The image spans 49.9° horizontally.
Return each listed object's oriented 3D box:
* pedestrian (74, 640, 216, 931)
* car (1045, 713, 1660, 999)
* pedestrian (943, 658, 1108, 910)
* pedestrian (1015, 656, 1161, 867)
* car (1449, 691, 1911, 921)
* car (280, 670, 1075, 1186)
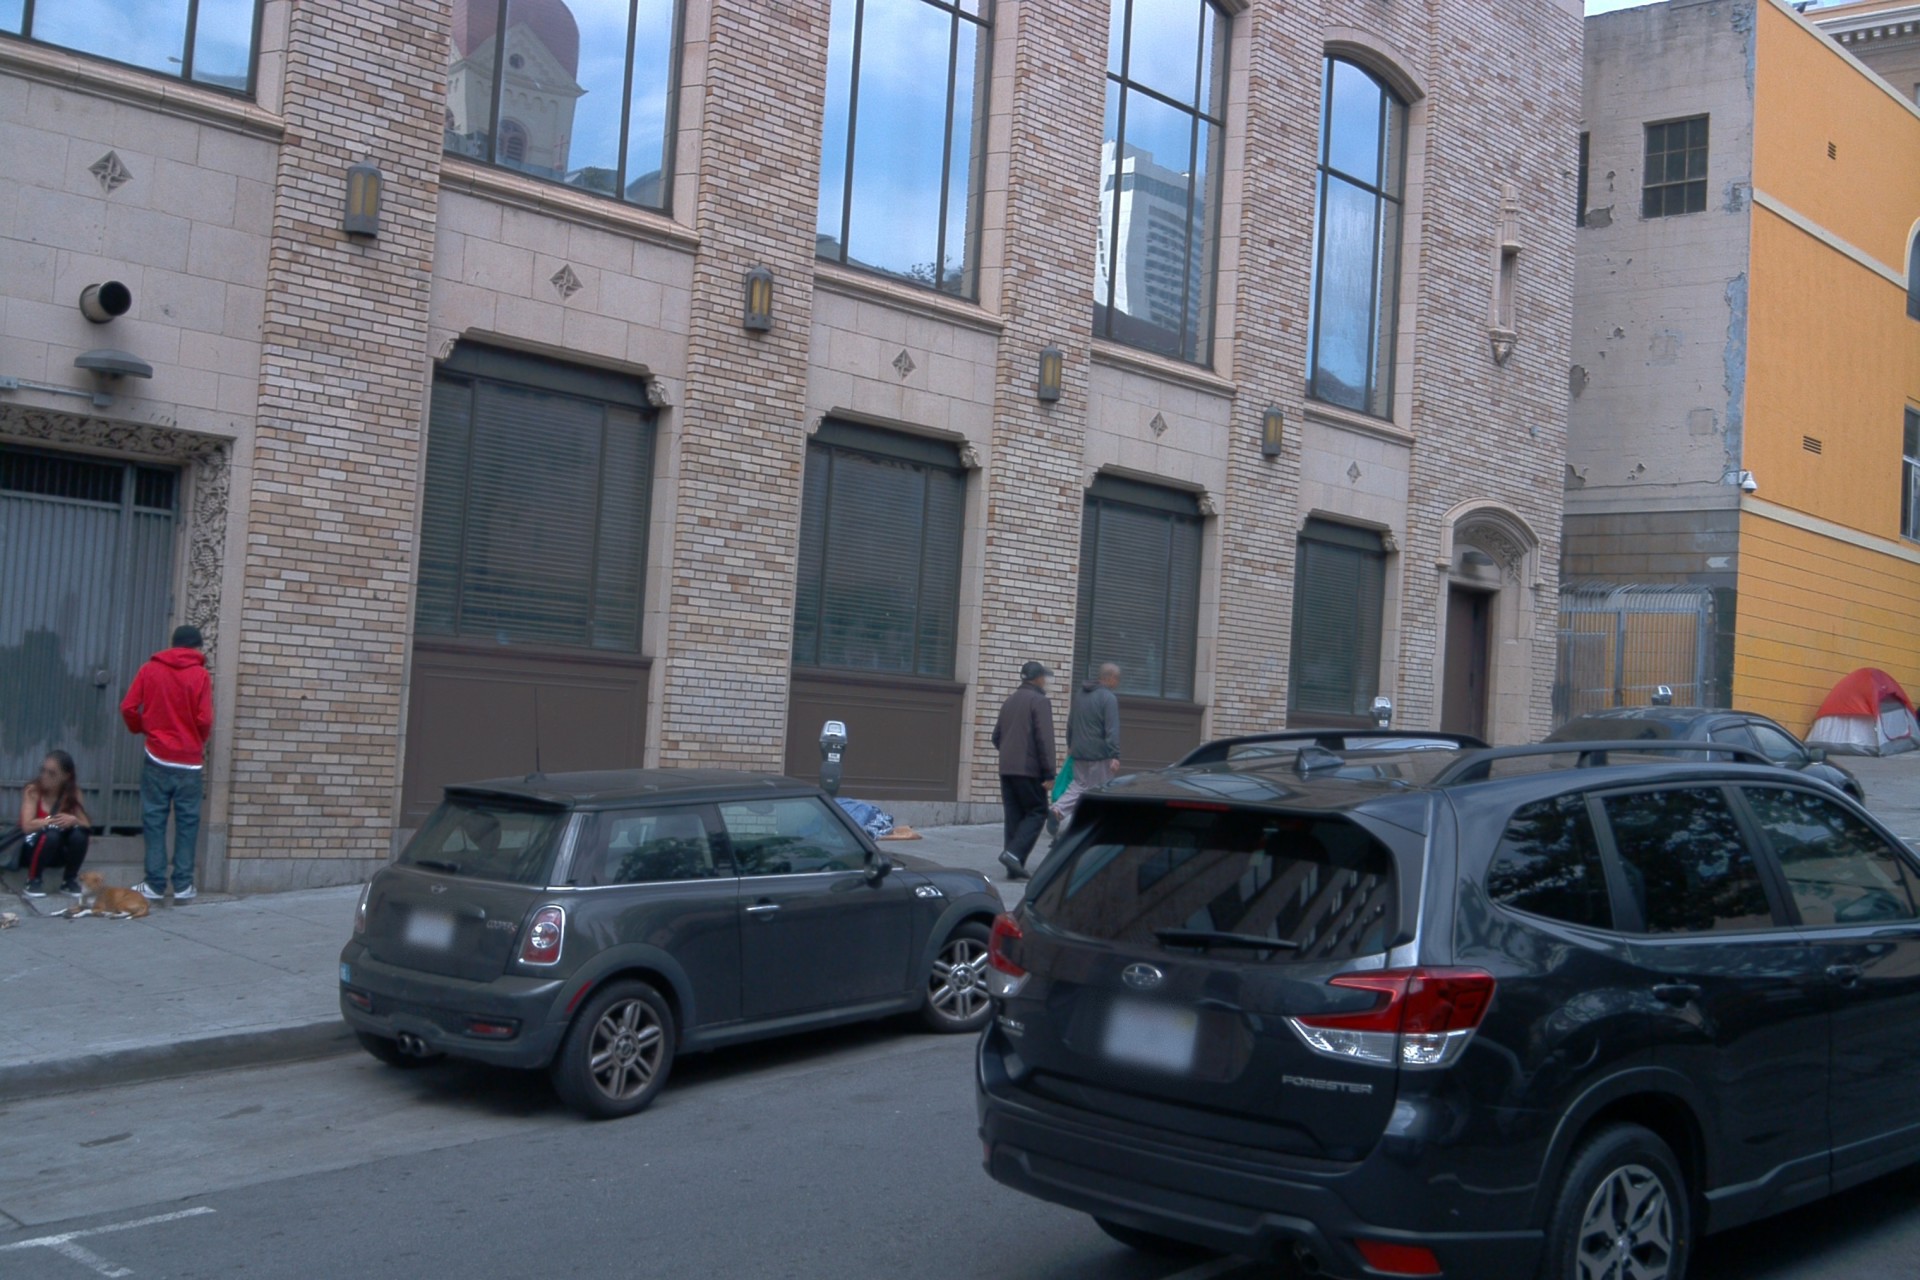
[{"bbox_3d":[-5.245,0.906,13.321,0.786,1.800,0.728,0,1,-17],"label":"pedestrian"},{"bbox_3d":[2.988,1.405,15.002,2.106,1.510,4.714,1,1,45],"label":"car"},{"bbox_3d":[0.495,1.052,15.614,0.870,1.810,0.897,-1,1,-43],"label":"pedestrian"},{"bbox_3d":[1.133,1.041,18.297,0.923,1.780,0.899,-1,1,-44],"label":"pedestrian"},{"bbox_3d":[6.658,1.378,18.794,2.141,1.640,4.710,1,1,45],"label":"car"},{"bbox_3d":[-1.244,1.200,10.369,1.729,1.980,3.770,1,1,40],"label":"car"}]
